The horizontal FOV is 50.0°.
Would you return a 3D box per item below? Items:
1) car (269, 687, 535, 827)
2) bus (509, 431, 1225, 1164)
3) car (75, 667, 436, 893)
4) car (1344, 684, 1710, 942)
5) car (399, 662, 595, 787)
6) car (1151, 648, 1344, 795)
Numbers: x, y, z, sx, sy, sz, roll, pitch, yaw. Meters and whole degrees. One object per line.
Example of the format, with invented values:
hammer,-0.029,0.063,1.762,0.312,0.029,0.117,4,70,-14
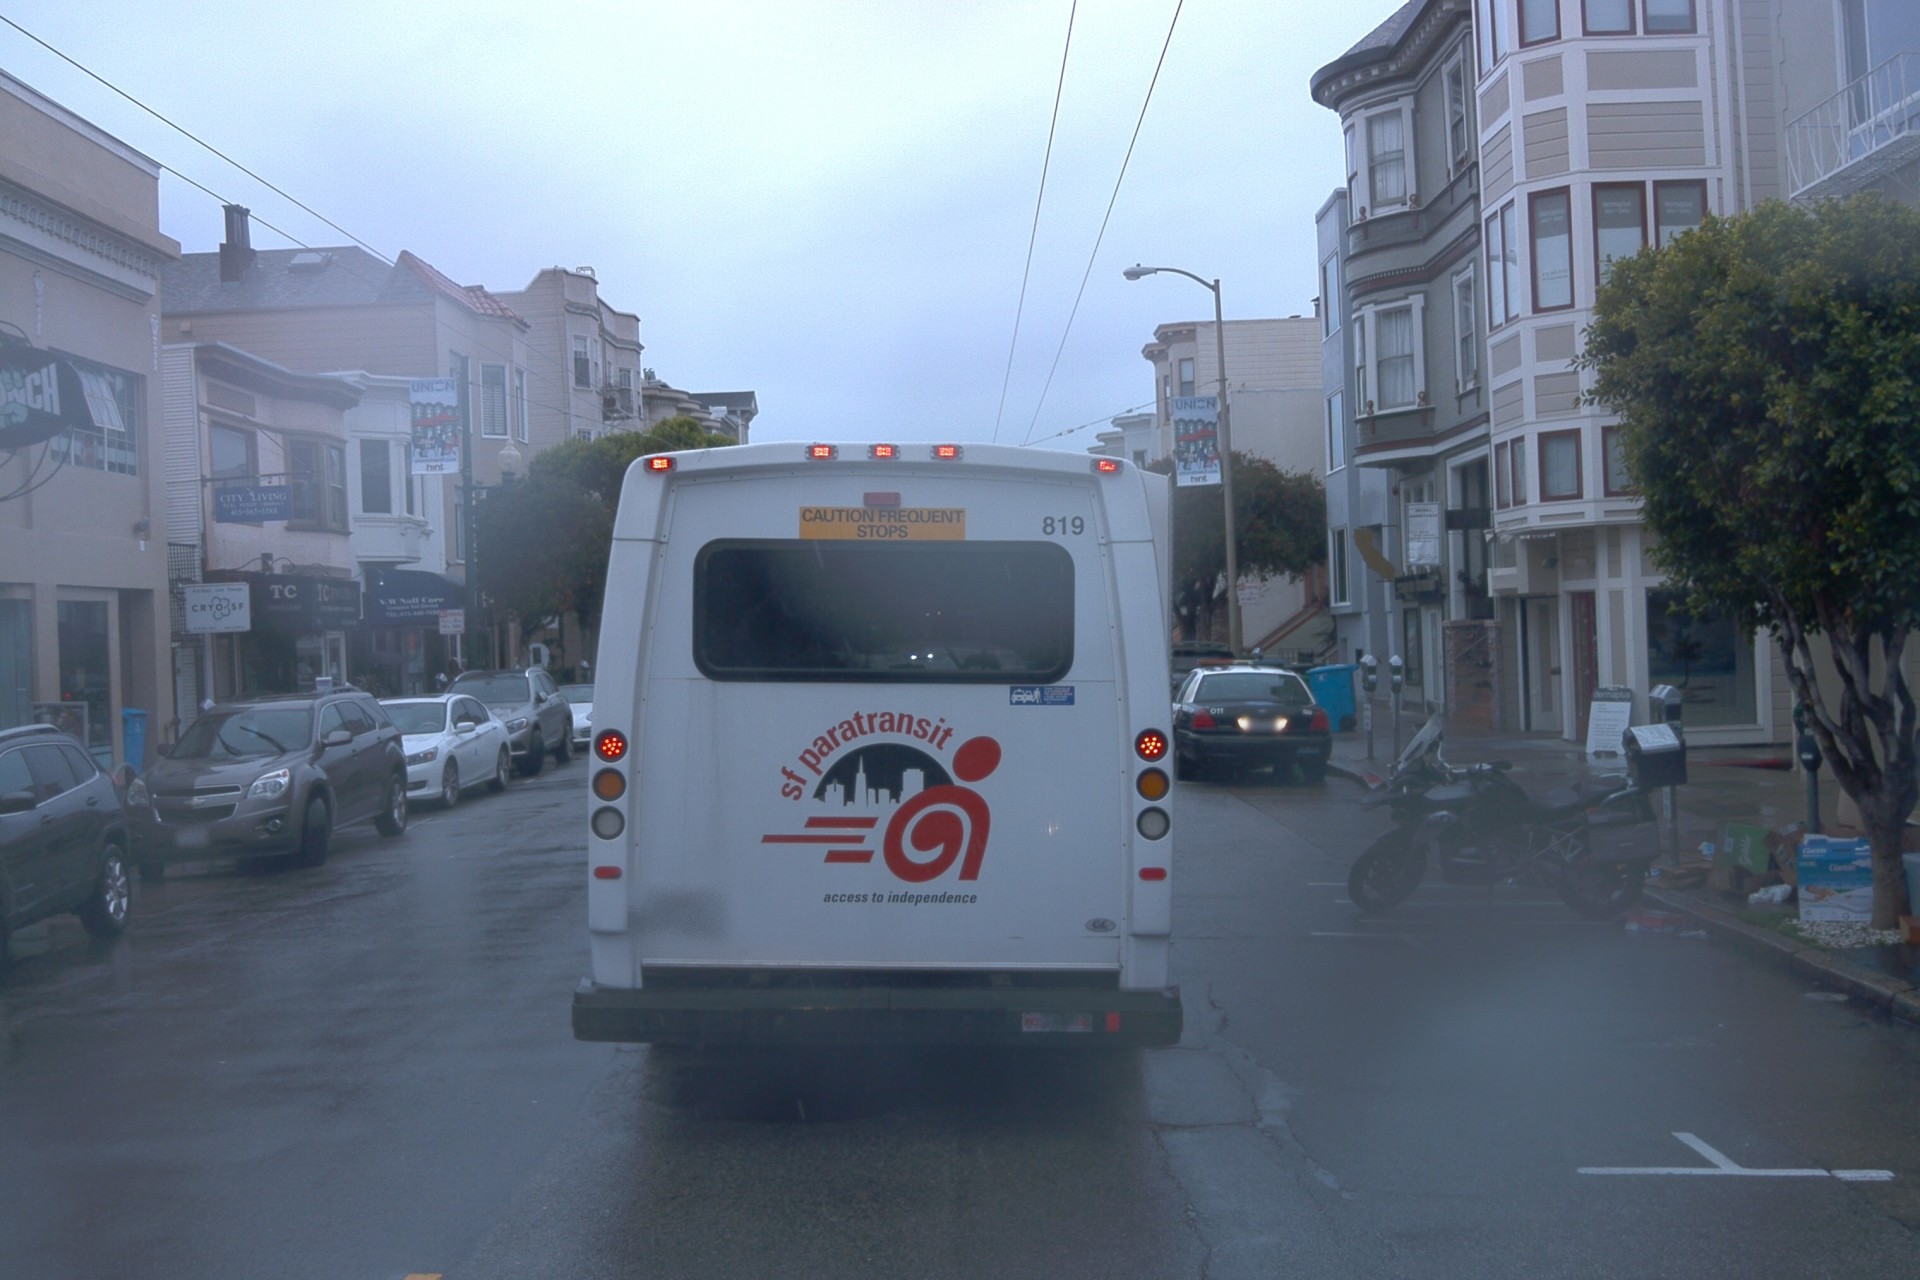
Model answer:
car,-7.437,1.508,28.077,2.131,1.540,5.131,1,1,1
bus,-0.363,0.584,11.445,2.787,2.850,6.705,1,1,0
car,-7.162,1.328,21.589,2.065,1.960,4.992,1,1,0
car,3.923,1.168,14.455,2.374,1.650,1.013,1,1,12
car,-7.451,1.307,33.711,2.149,1.760,4.917,1,1,-1
car,3.767,1.010,27.927,2.108,1.690,5.363,1,1,3
